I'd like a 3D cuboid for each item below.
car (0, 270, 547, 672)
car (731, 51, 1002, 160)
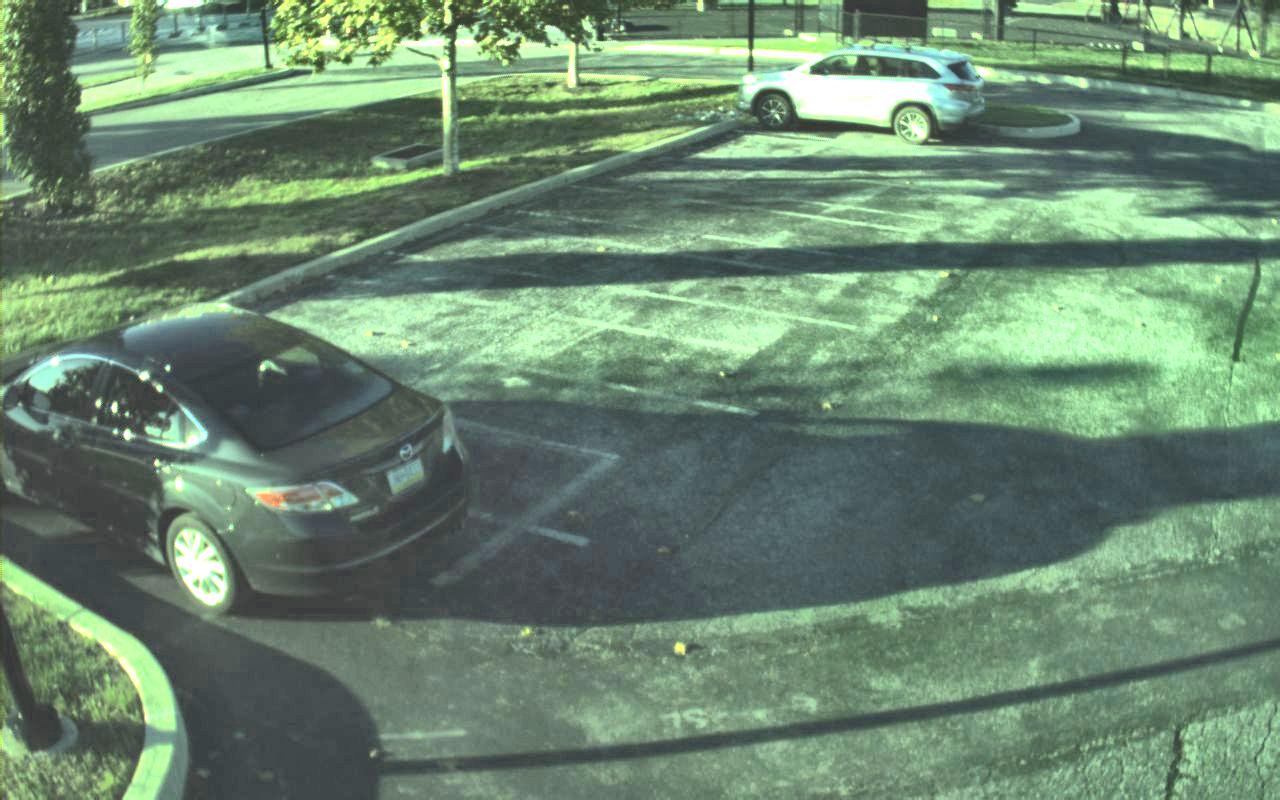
[{"bbox_3d":[-3.021,0.197,8.382,4.462,1.597,1.971,9,18,33],"label":"car"},{"bbox_3d":[4.394,-5.720,23.522,4.864,1.882,2.088,7,17,28],"label":"car"}]
